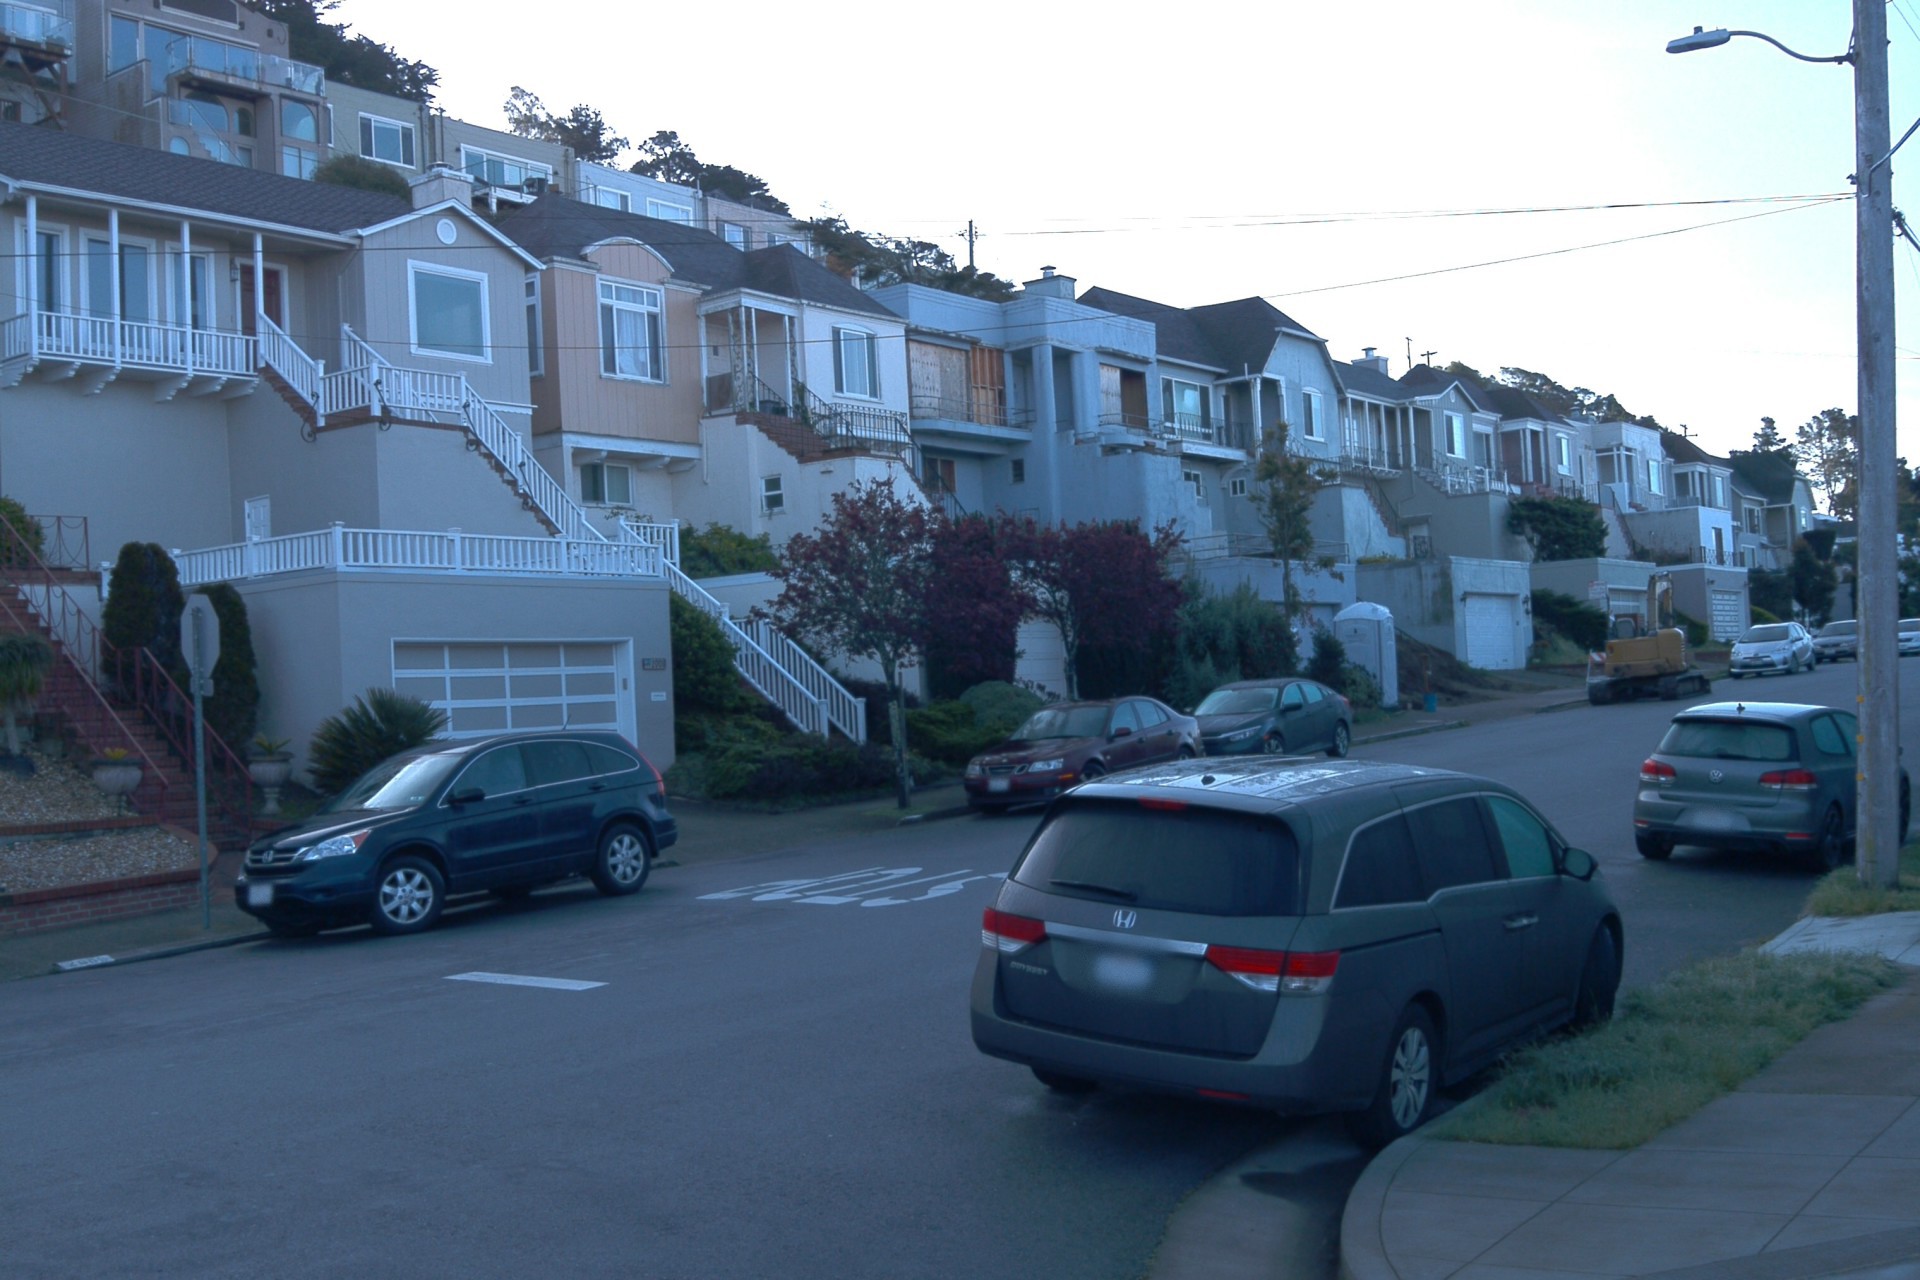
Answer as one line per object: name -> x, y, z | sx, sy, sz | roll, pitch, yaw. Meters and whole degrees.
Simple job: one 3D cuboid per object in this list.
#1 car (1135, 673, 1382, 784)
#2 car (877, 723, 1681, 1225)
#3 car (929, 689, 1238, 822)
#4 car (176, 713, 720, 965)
car -> 4.872, 1.355, 33.040 | 2.163, 1.560, 4.754 | 0, 0, 32
car -> 2.043, 1.494, 11.330 | 2.390, 1.860, 5.189 | 0, 0, 34
car -> 1.814, 1.511, 28.491 | 2.151, 1.560, 4.797 | 0, 0, 33
car -> -4.690, 1.731, 19.529 | 2.207, 1.910, 4.681 | 0, 0, 36
